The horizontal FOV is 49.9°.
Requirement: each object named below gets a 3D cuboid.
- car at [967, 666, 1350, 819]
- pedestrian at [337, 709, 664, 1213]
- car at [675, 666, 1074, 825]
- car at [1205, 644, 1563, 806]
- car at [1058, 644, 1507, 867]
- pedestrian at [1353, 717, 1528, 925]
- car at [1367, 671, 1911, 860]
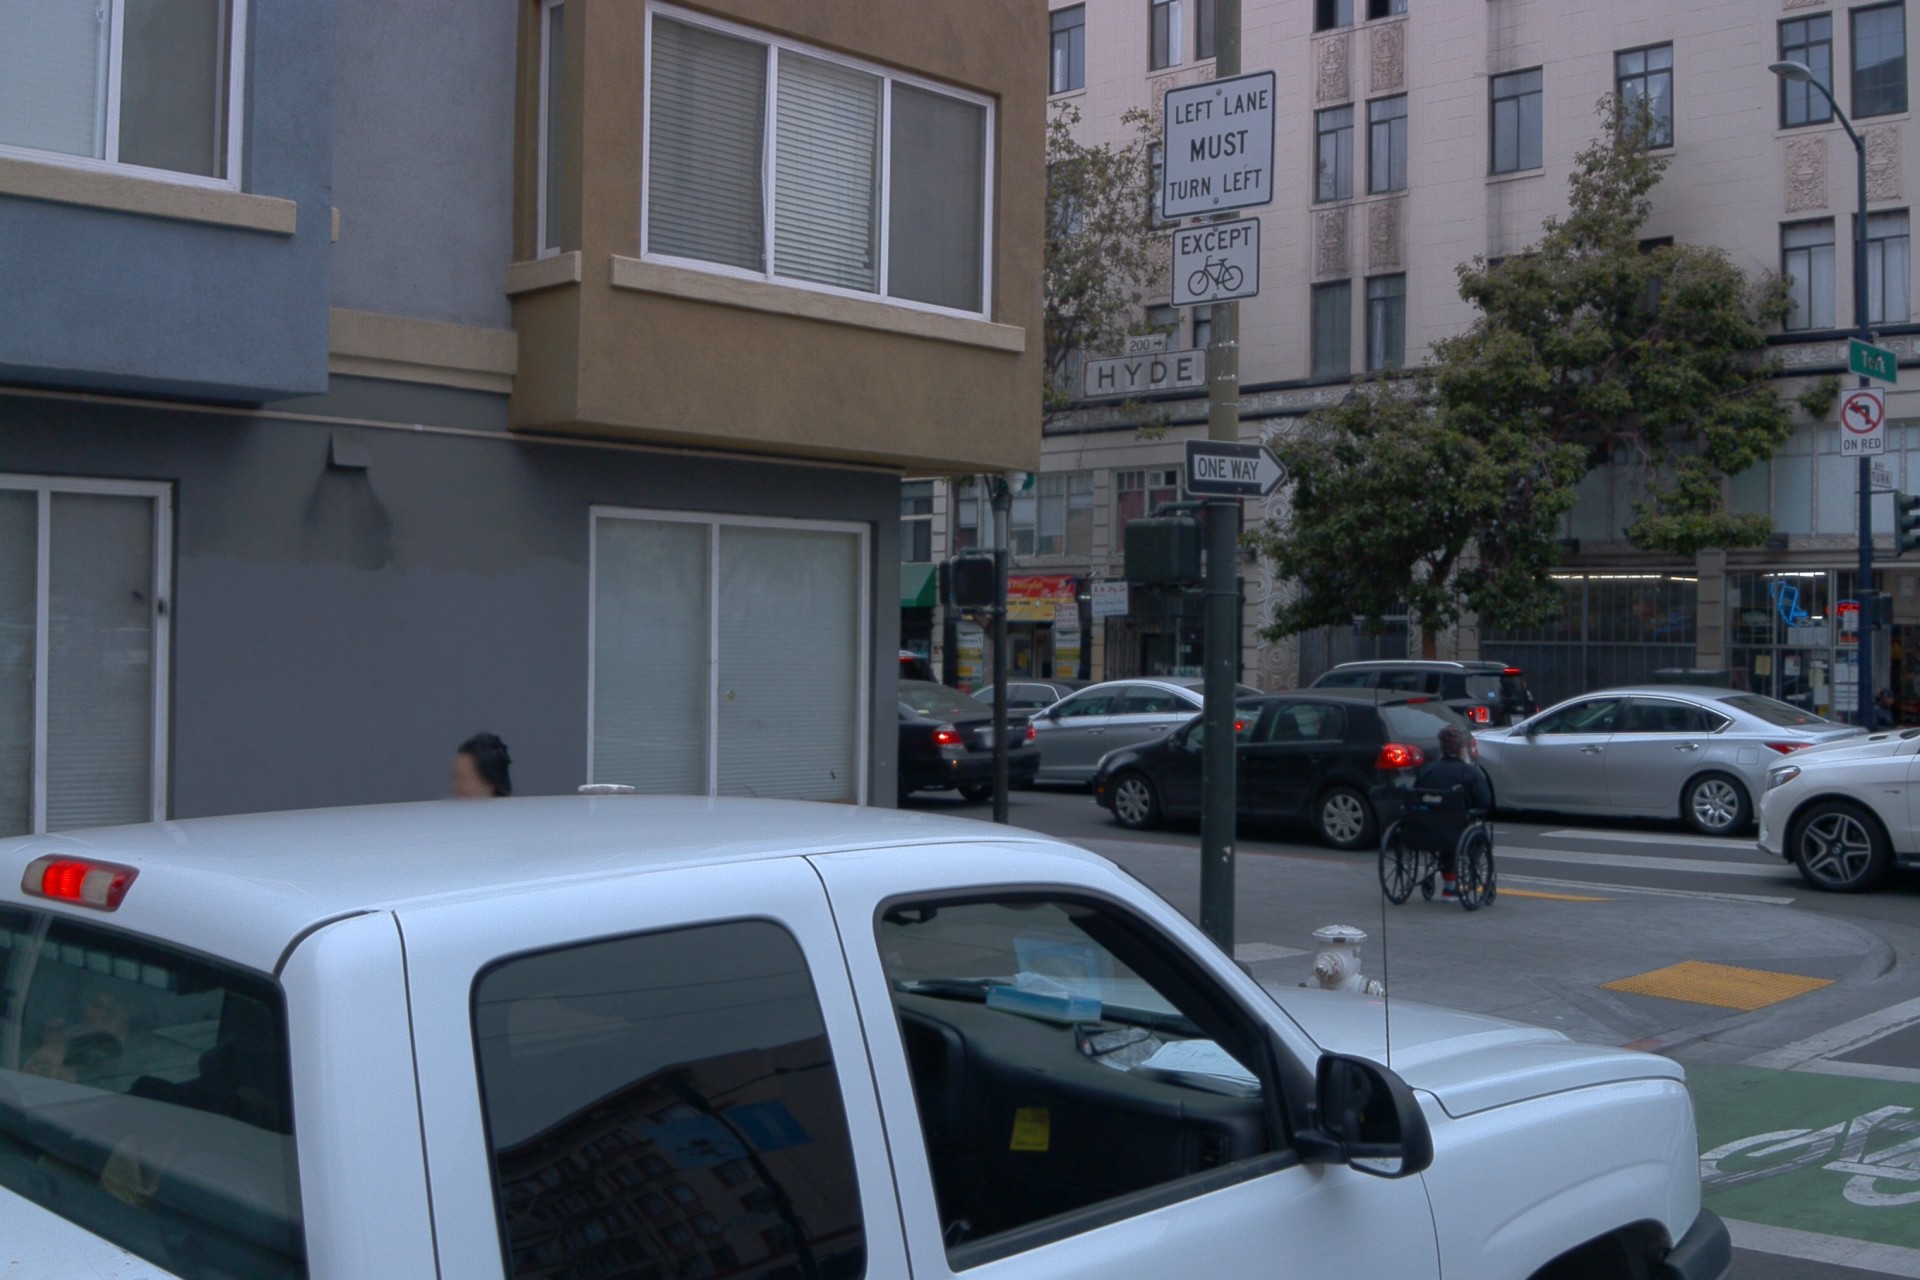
[{"bbox_3d":[2.398,1.198,25.838,1.939,1.600,4.599,-1,1,-44],"label":"car"},{"bbox_3d":[-1.828,1.185,8.129,1.098,1.760,0.983,0,1,-22],"label":"pedestrian"},{"bbox_3d":[-1.124,1.189,25.072,4.803,1.600,2.070,1,1,43],"label":"car"},{"bbox_3d":[5.496,1.032,27.096,1.925,1.870,4.231,-1,1,-45],"label":"car"},{"bbox_3d":[3.174,1.053,20.891,1.871,1.950,4.194,-1,1,-45],"label":"car"},{"bbox_3d":[3.503,1.285,15.017,0.883,1.370,1.026,1,1,38],"label":"pedestrian"},{"bbox_3d":[6.839,1.175,21.219,2.056,1.550,4.909,-1,1,-44],"label":"car"}]
